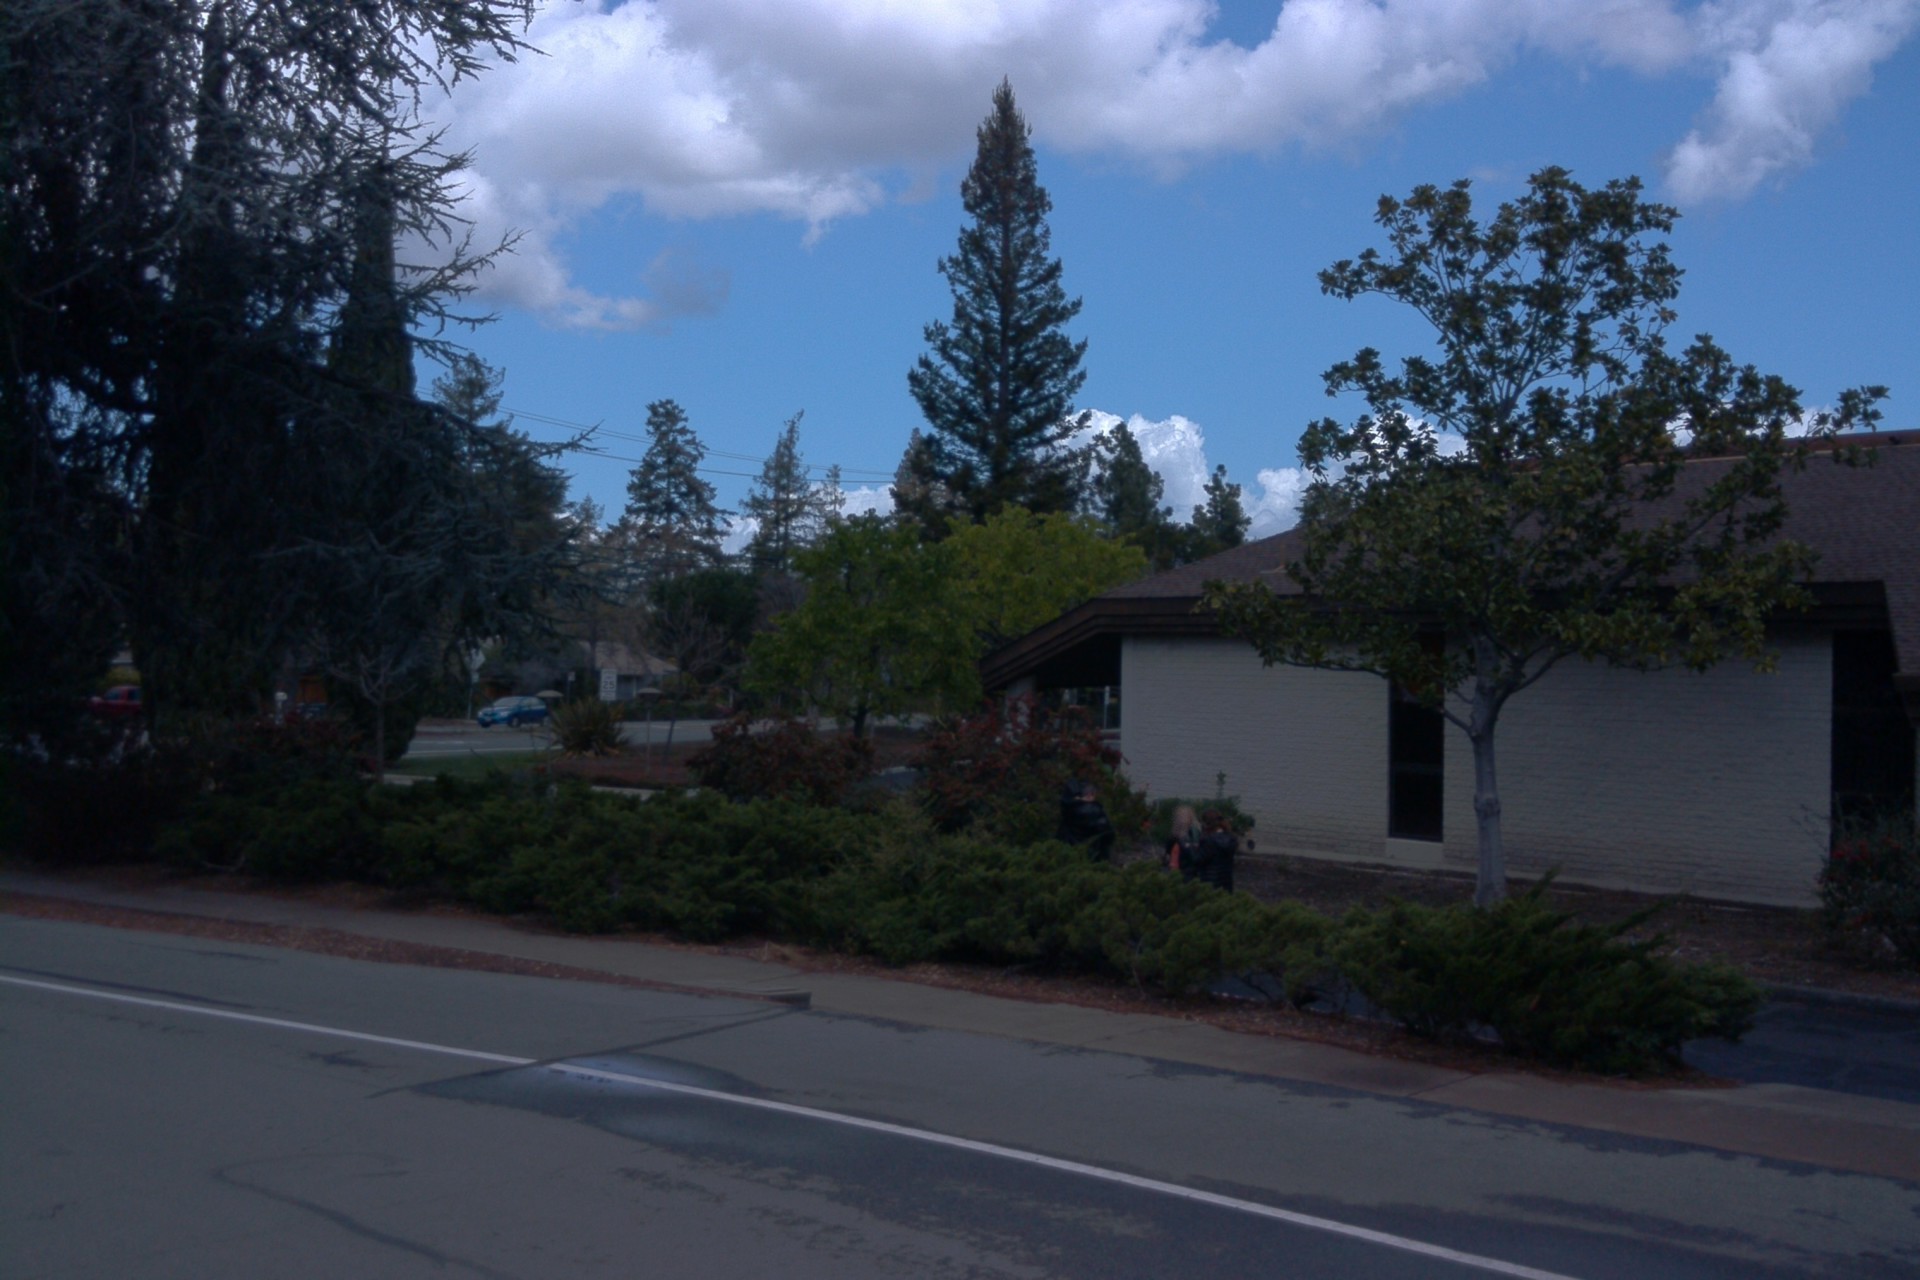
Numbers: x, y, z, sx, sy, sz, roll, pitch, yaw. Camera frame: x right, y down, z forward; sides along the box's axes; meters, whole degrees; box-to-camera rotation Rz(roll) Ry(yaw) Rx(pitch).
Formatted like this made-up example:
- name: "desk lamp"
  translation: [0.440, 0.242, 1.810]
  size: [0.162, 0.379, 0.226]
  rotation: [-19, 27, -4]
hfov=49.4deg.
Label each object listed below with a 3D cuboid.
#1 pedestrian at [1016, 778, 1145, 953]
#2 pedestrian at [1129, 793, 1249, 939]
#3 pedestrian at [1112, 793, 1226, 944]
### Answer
- name: "pedestrian"
  translation: [1.247, 2.308, 21.645]
  size: [0.943, 1.690, 0.897]
  rotation: [2, -1, -43]
- name: "pedestrian"
  translation: [2.338, 2.289, 21.334]
  size: [0.836, 1.370, 0.870]
  rotation: [1, -1, 44]
- name: "pedestrian"
  translation: [2.223, 2.419, 22.250]
  size: [0.848, 1.500, 0.816]
  rotation: [2, -1, -38]
